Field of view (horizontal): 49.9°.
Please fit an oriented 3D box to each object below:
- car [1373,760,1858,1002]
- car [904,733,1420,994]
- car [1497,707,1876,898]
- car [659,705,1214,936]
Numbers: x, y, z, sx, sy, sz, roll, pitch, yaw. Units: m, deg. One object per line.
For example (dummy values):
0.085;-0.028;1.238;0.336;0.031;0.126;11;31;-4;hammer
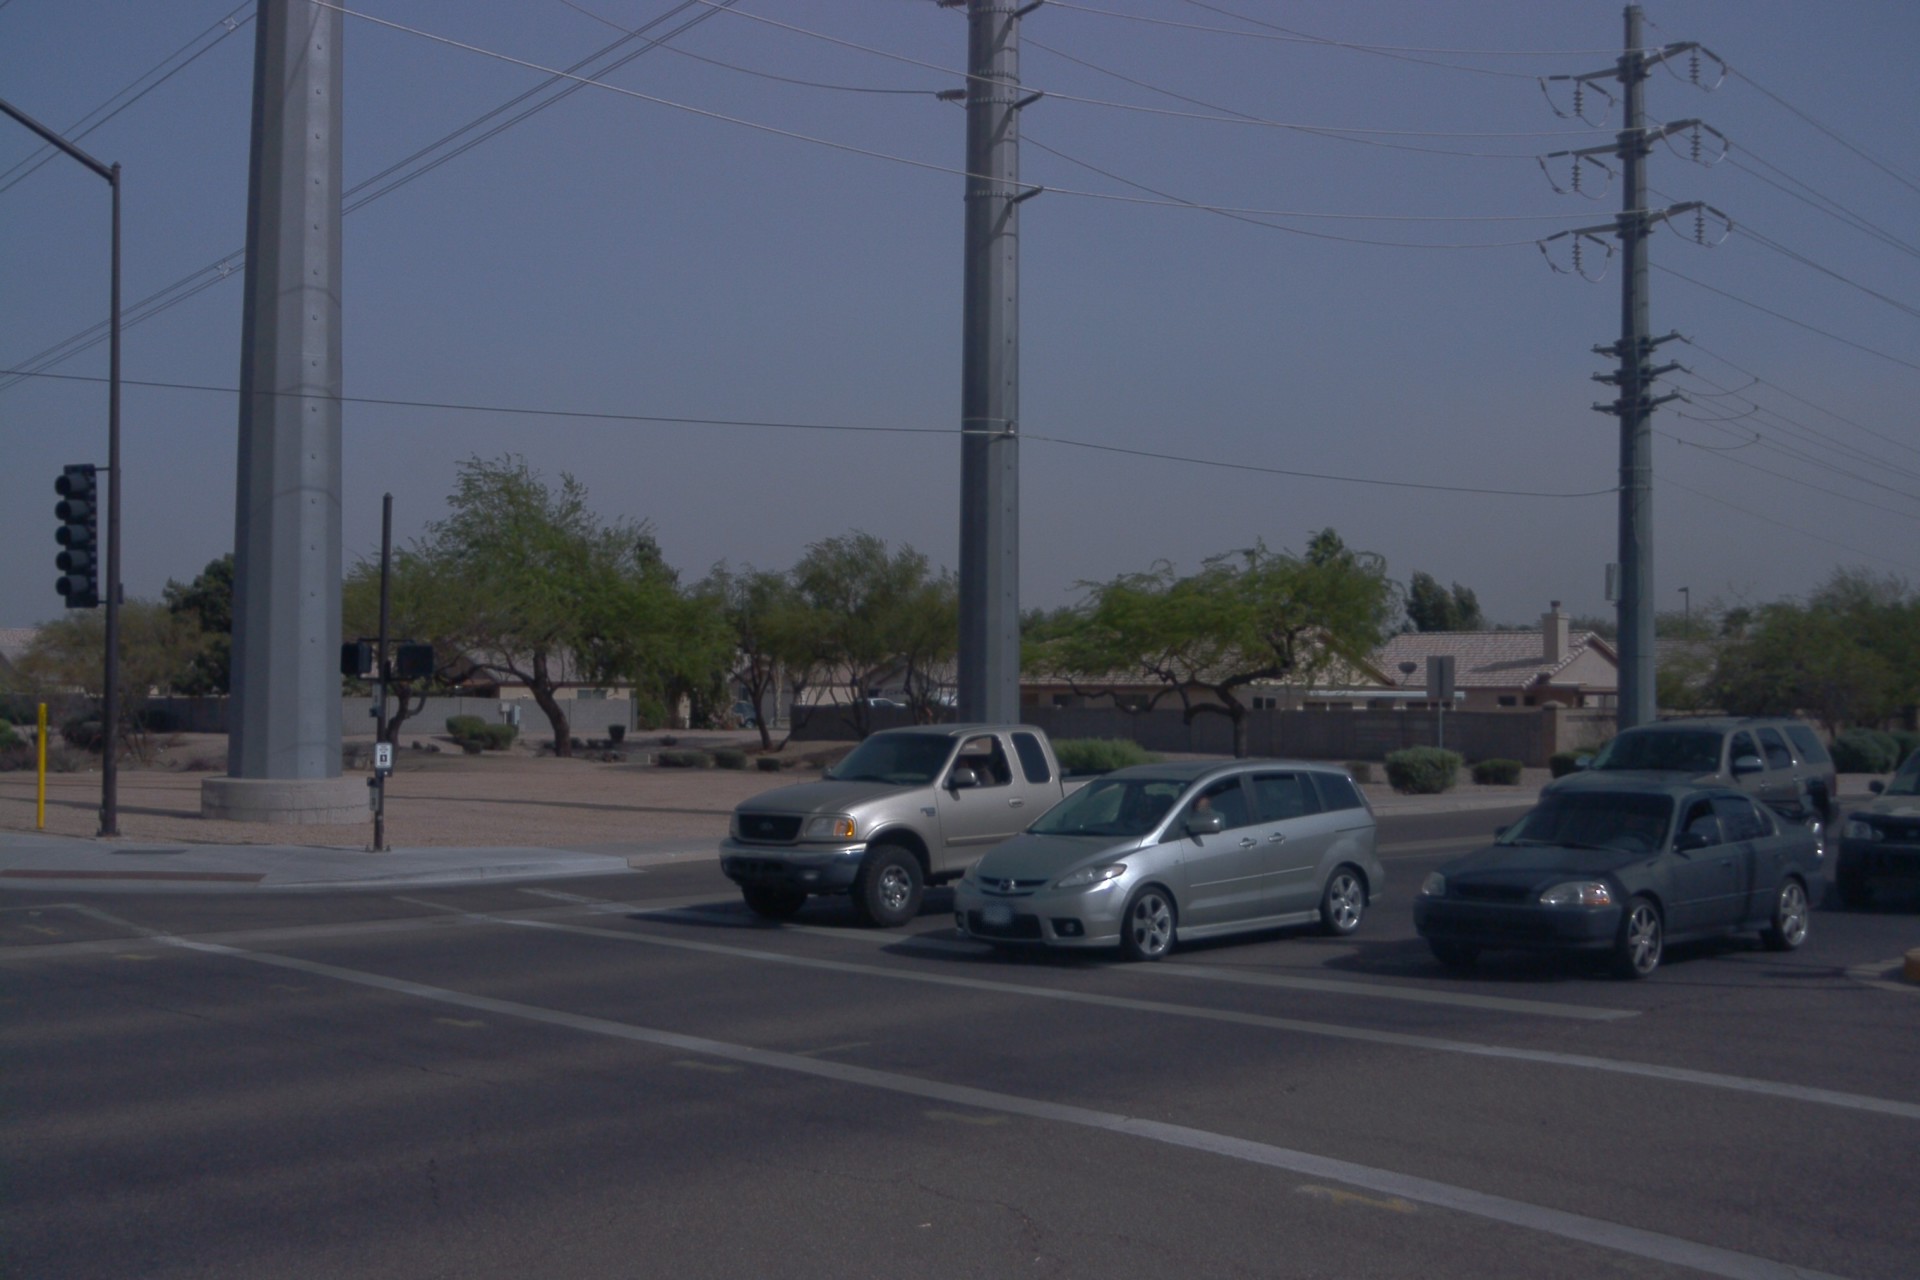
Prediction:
5.365;1.800;16.550;1.847;1.450;4.523;0;-1;45;car
1.887;1.811;18.121;2.013;1.830;4.626;0;-1;45;car
9.101;1.880;25.550;2.383;1.970;5.478;0;-1;43;car
-0.079;1.719;21.472;2.332;1.960;5.763;0;-1;45;car
